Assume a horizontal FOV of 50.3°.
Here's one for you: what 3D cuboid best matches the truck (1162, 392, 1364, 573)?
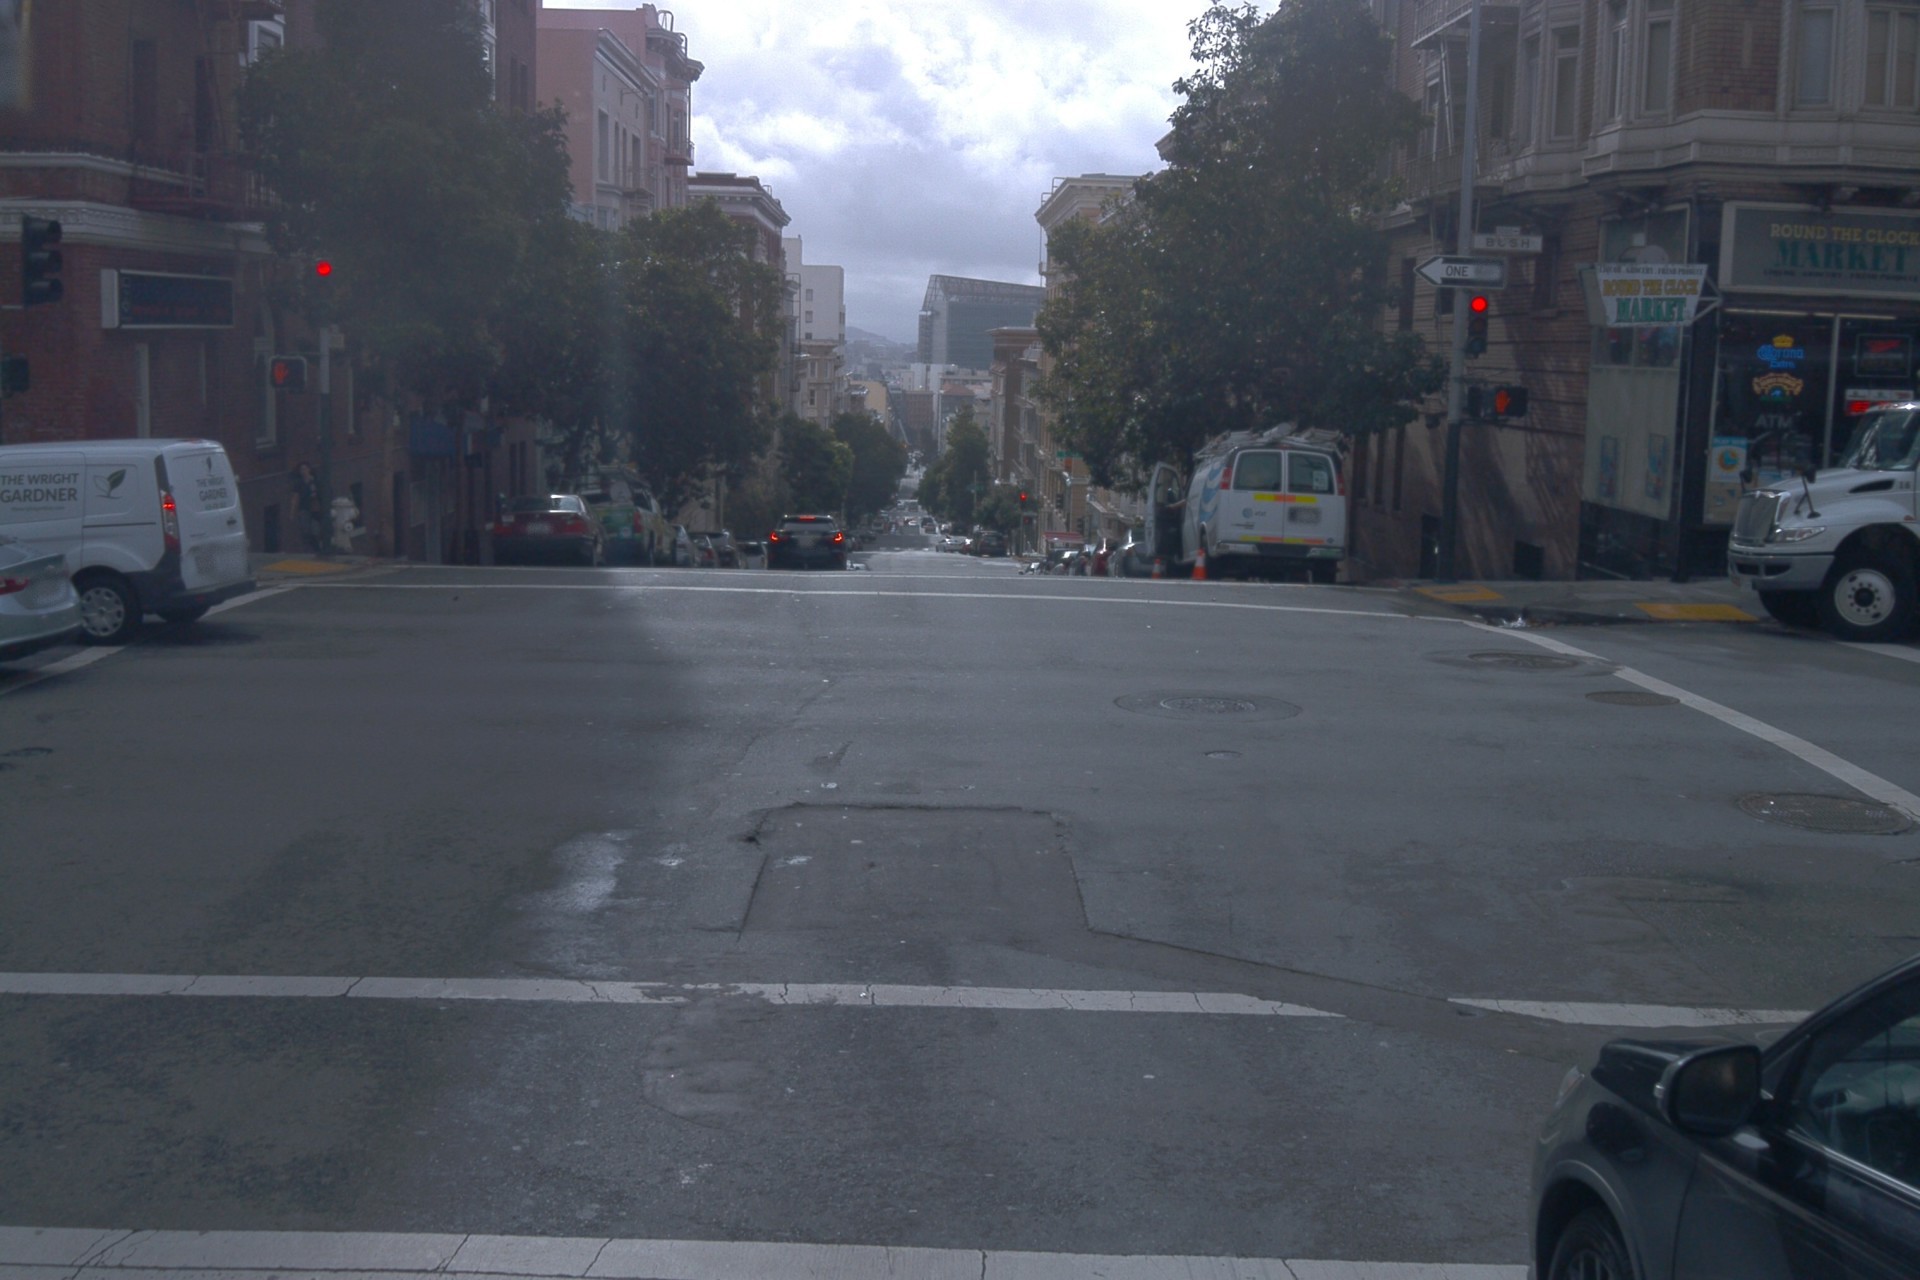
[{"bbox_3d":[4.579,-2.328,31.750,2.117,2.450,5.100,1,1,-3],"label":"truck"}]

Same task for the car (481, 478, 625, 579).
[{"bbox_3d":[-6.885,-1.856,34.933,1.759,1.530,4.100,1,1,-2],"label":"car"}]

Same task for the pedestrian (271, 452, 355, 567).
[{"bbox_3d":[-10.035,-2.011,31.754,0.930,1.717,1.087,1,1,-1],"label":"pedestrian"}]
